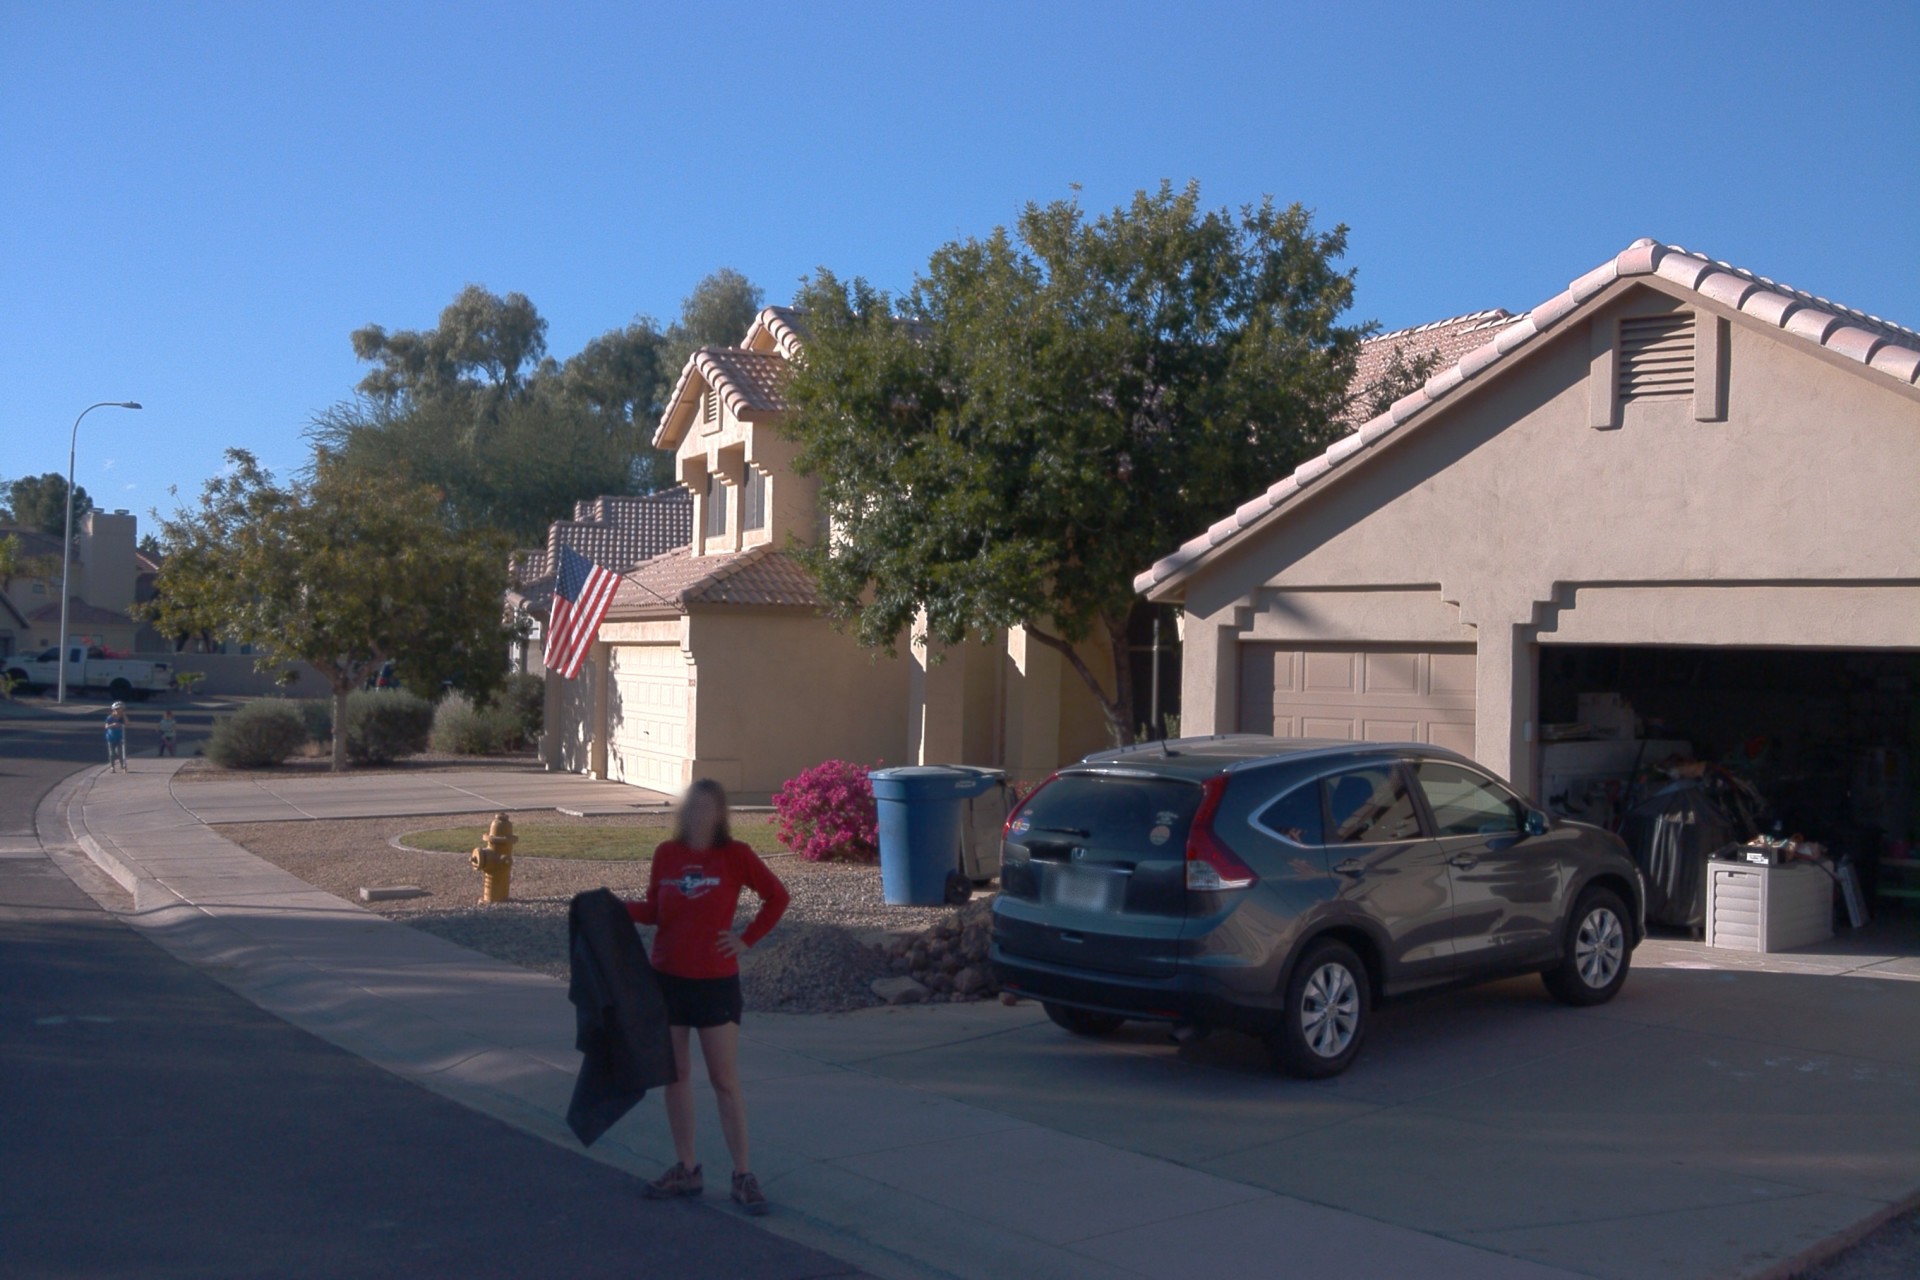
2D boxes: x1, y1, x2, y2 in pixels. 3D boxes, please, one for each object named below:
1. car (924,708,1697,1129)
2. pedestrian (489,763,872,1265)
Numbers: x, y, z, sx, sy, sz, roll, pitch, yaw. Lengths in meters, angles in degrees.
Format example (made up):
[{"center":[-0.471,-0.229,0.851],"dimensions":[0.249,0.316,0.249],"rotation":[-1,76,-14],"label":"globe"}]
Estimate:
[{"center":[2.155,1.365,11.863],"dimensions":[4.458,1.870,2.066],"rotation":[1,-1,-43],"label":"car"},{"center":[-1.165,1.405,8.335],"dimensions":[1.258,1.750,1.316],"rotation":[1,0,-19],"label":"pedestrian"}]
